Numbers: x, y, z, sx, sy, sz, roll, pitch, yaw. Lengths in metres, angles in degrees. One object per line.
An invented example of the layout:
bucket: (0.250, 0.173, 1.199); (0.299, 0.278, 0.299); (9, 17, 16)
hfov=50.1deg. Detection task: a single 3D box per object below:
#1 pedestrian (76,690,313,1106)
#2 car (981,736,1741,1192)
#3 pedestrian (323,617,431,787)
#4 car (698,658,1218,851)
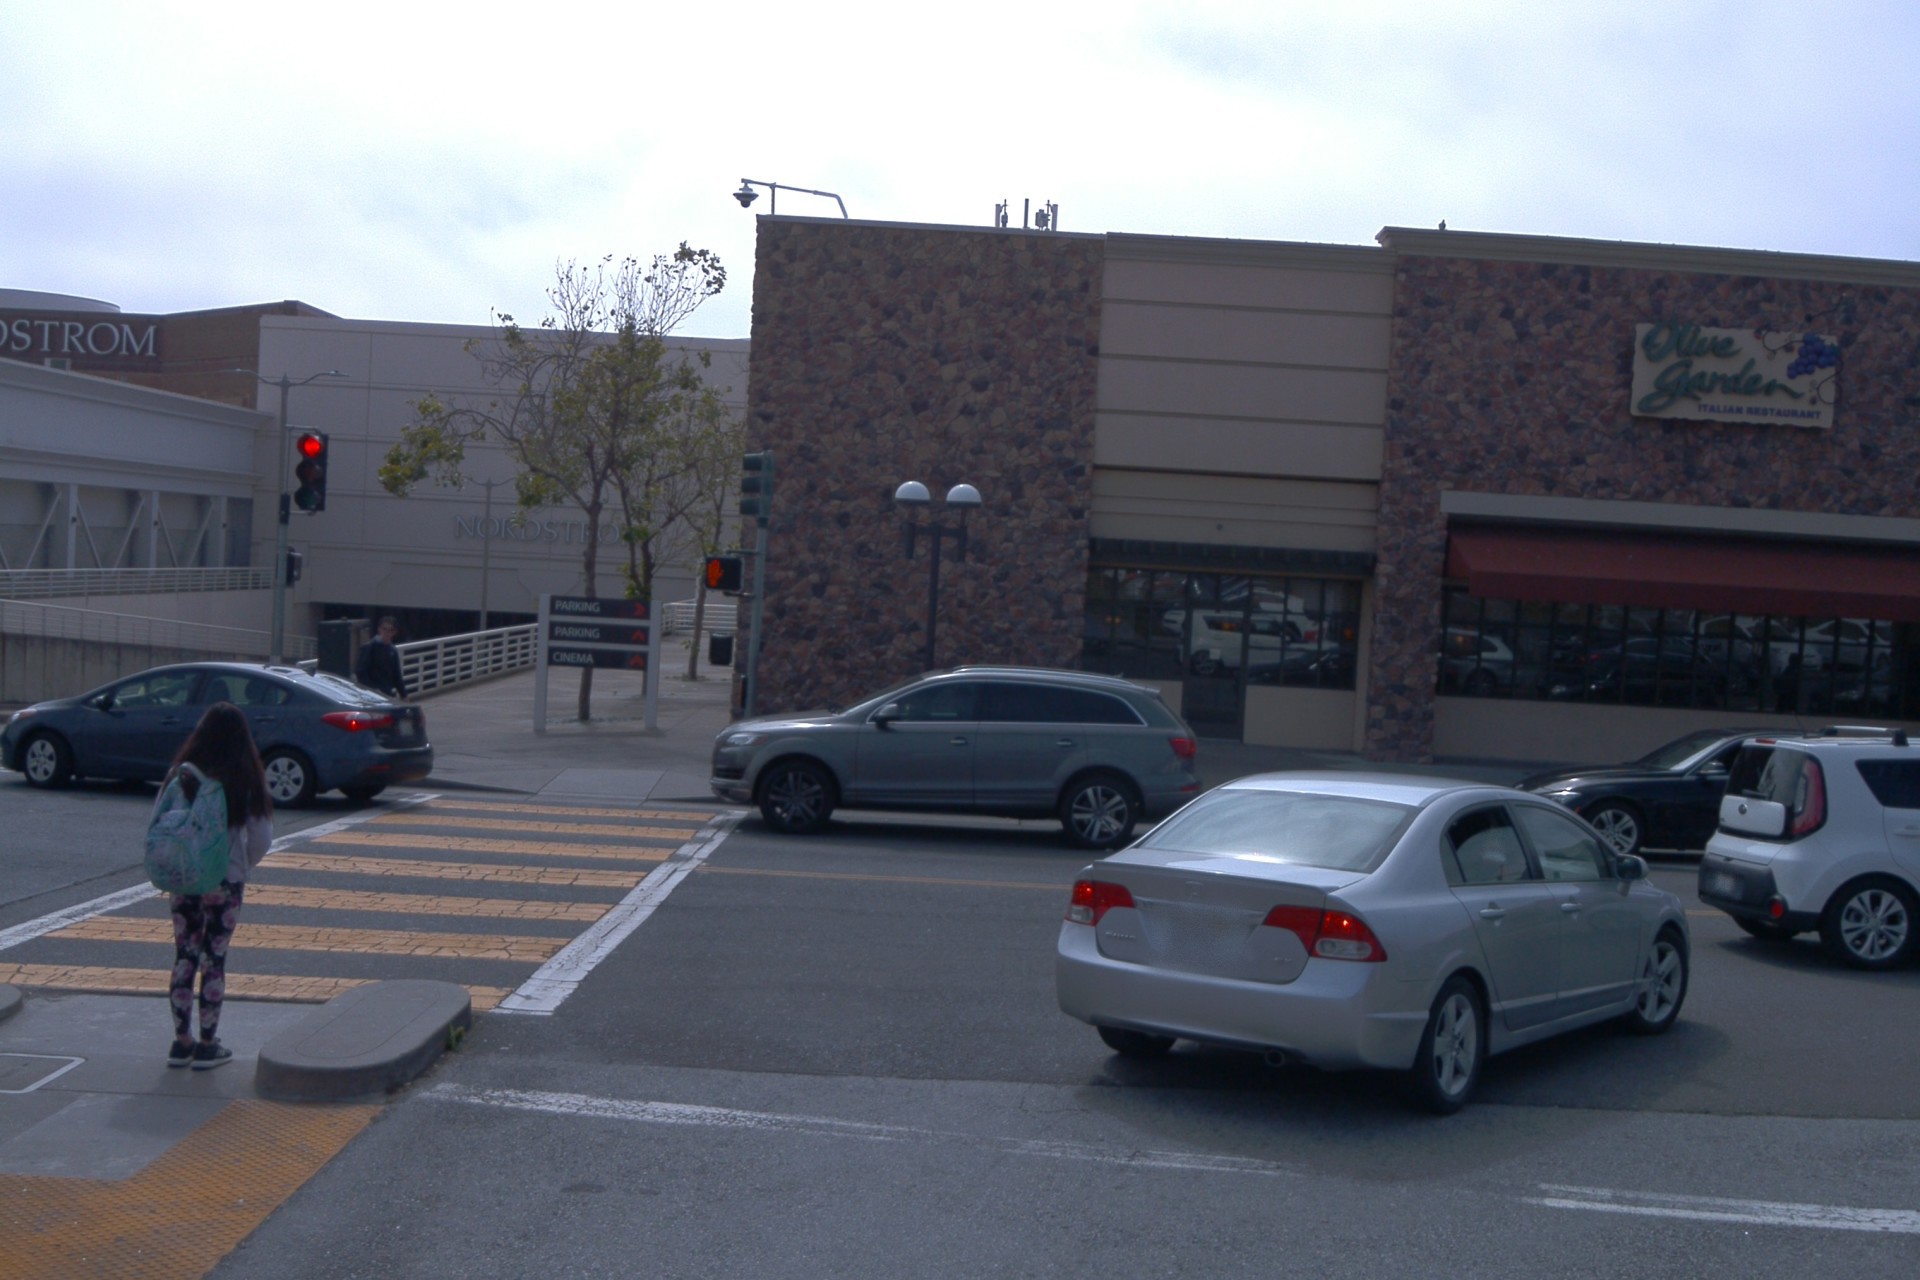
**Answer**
pedestrian: (-3.321, 1.080, 8.997); (0.722, 1.680, 0.958); (0, 1, -4)
car: (2.237, 1.389, 10.452); (2.057, 1.520, 4.320); (0, 1, 38)
pedestrian: (-6.835, 0.715, 24.143); (0.976, 1.960, 0.860); (0, 1, 4)
car: (-0.036, 1.126, 21.142); (5.062, 1.820, 2.207); (0, 1, 0)
